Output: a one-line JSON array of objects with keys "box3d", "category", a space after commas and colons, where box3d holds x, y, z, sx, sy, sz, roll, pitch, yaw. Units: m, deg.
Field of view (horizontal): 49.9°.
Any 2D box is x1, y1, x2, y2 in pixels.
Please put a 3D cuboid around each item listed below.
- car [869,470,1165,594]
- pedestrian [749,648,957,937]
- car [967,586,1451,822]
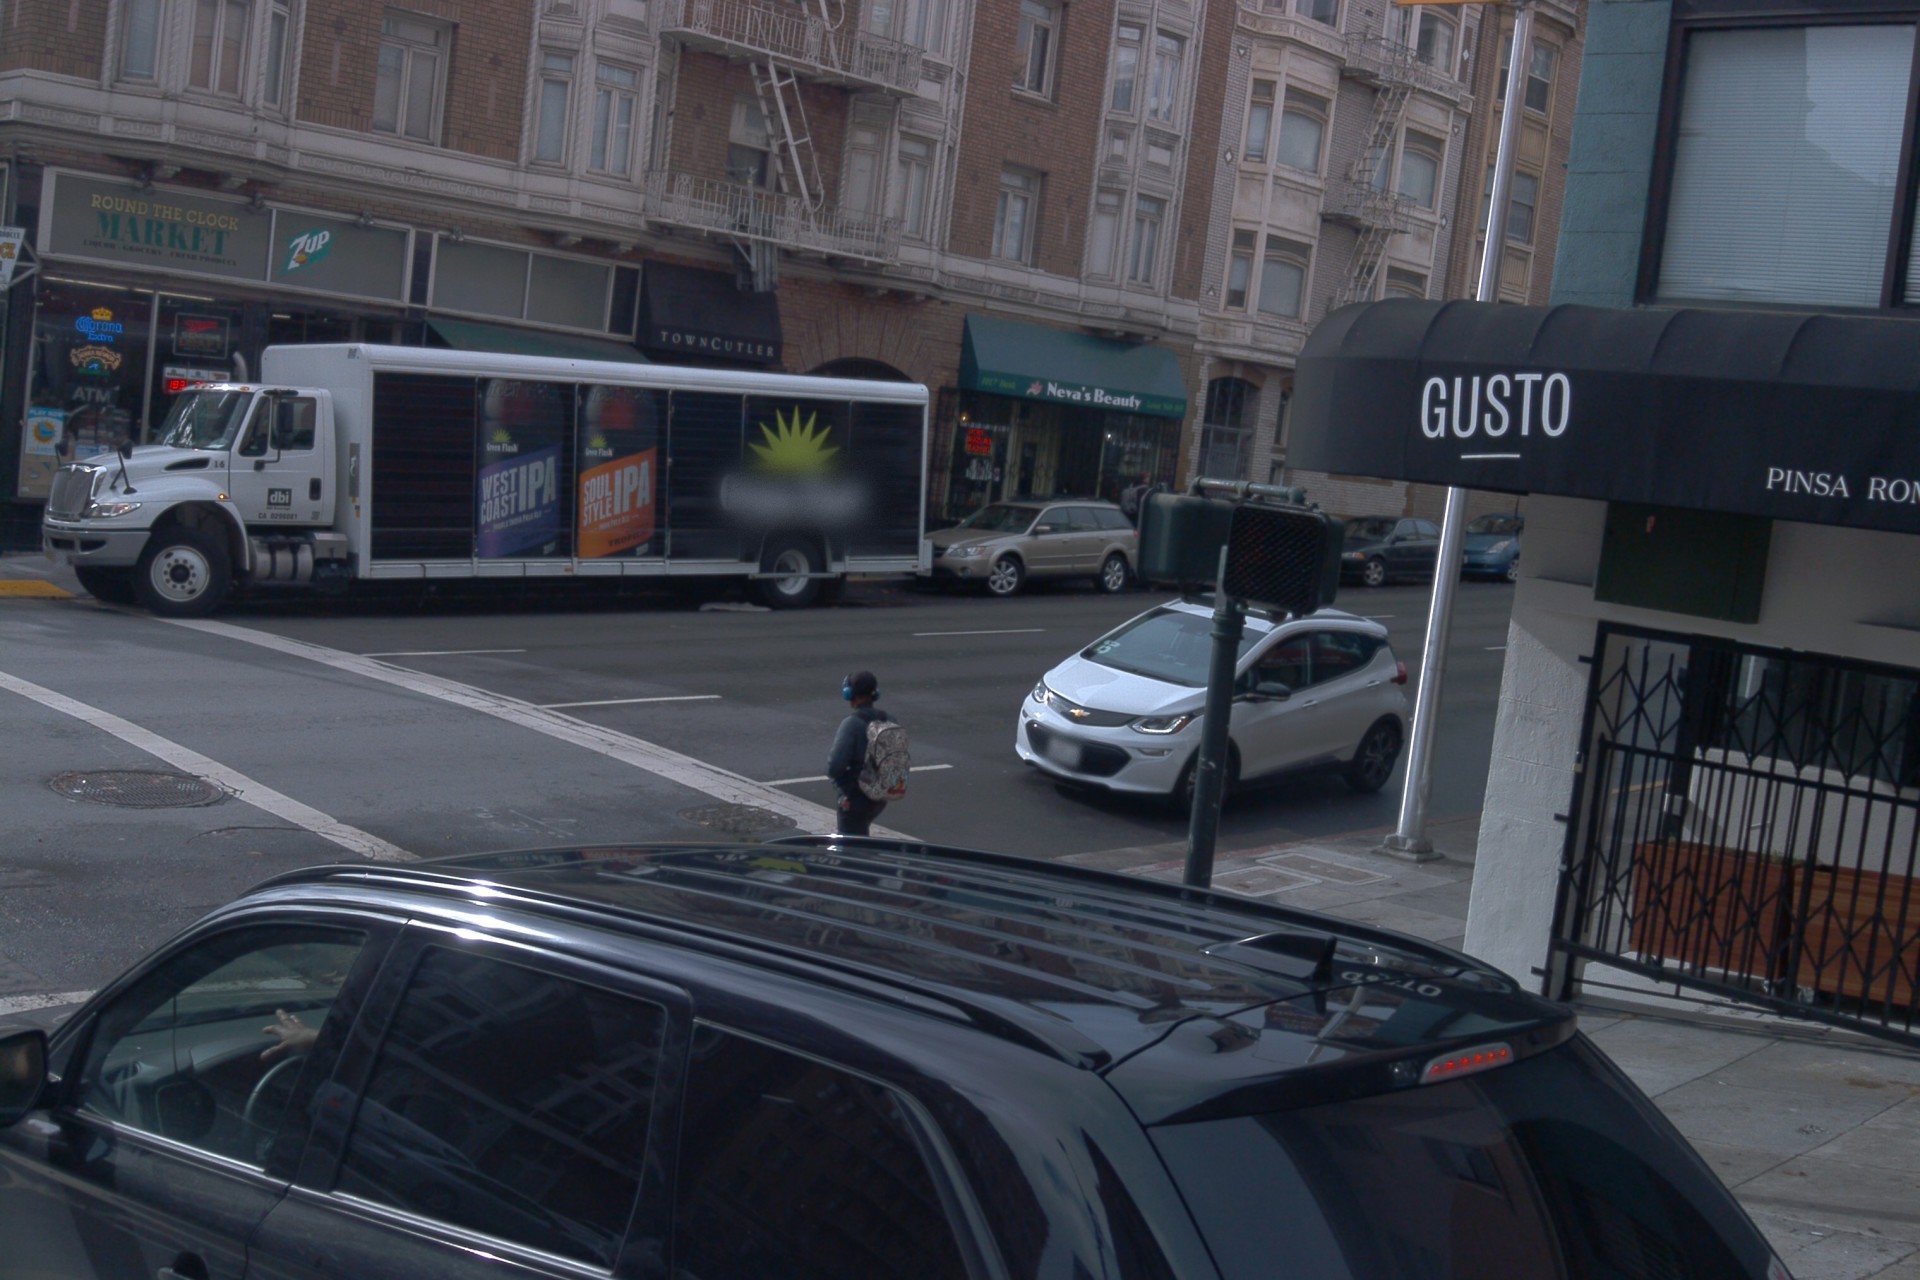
[{"box3d": [1.009, -1.686, 33.637, 2.182, 1.770, 4.833, 2, 1, 42], "category": "car"}, {"box3d": [-0.629, 0.852, 12.061, 0.929, 1.590, 0.750, 2, 1, 43], "category": "pedestrian"}, {"box3d": [2.267, 0.474, 17.870, 2.062, 1.780, 4.279, 2, 1, 42], "category": "car"}]
